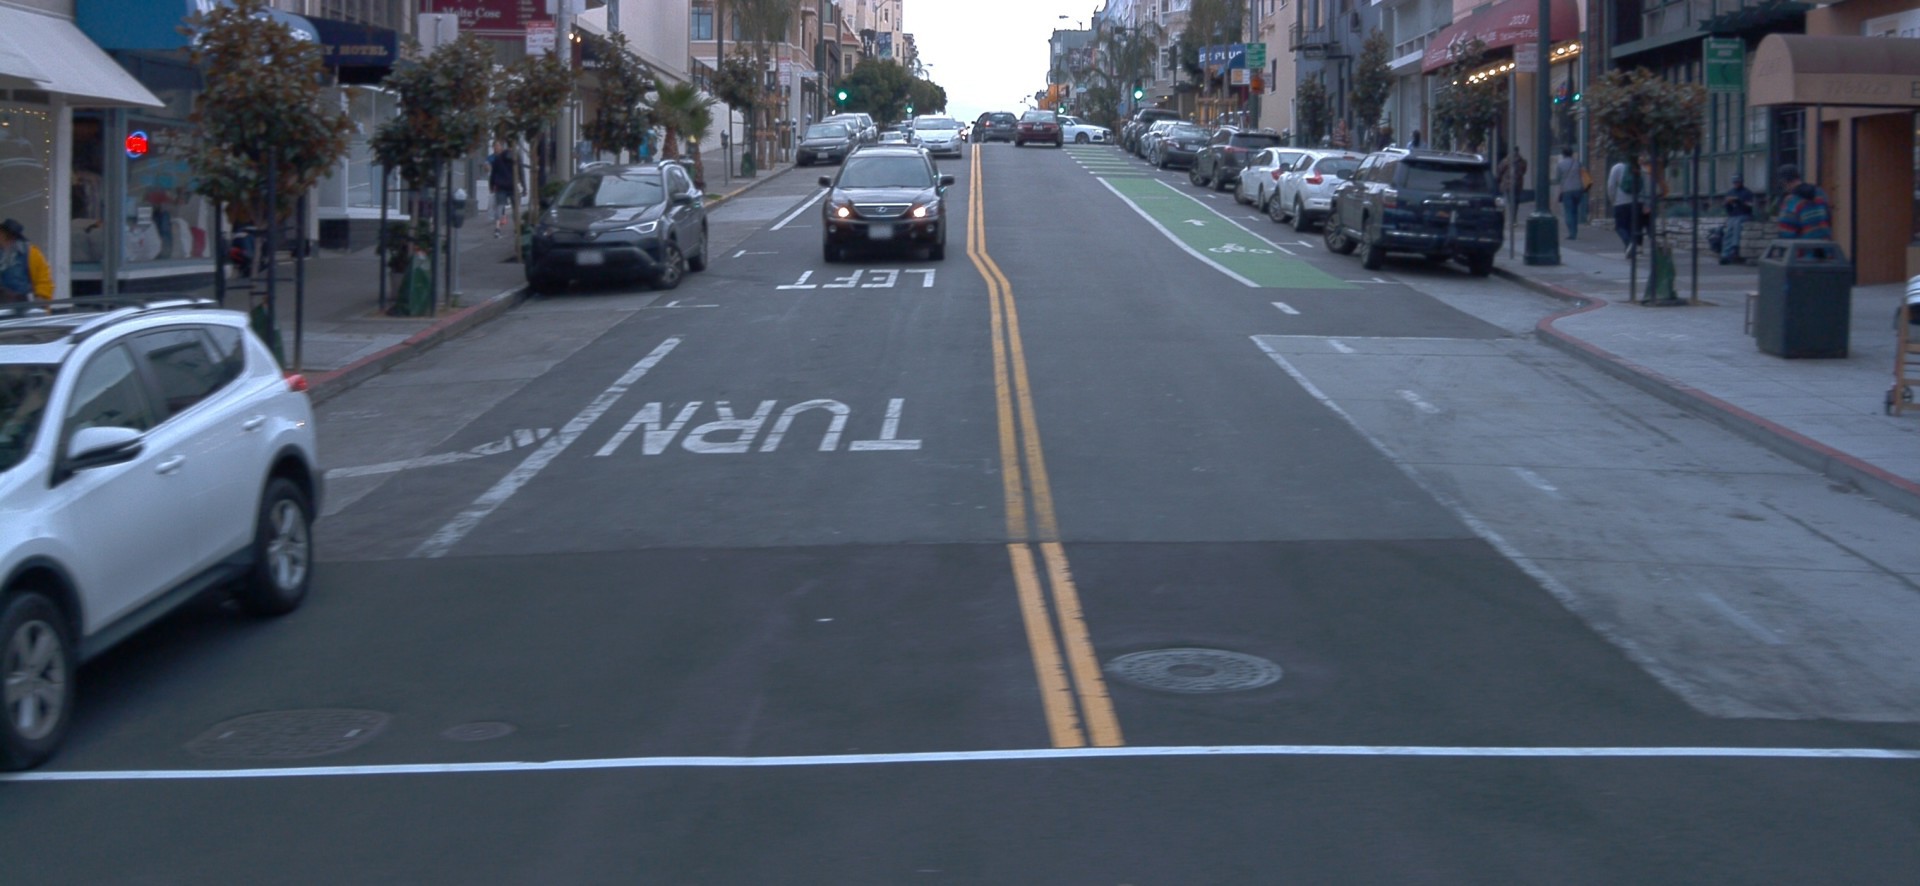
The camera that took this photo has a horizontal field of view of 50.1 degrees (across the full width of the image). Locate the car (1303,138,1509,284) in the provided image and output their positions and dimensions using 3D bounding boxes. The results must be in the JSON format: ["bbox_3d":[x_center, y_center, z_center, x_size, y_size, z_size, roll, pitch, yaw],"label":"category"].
[{"bbox_3d":[6.719,-3.531,31.497,2.179,2.052,4.942,0,5,1],"label":"car"}]

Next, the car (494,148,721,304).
[{"bbox_3d":[-4.797,-3.027,28.657,2.153,1.992,4.461,0,5,3],"label":"car"}]

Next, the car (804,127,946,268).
[{"bbox_3d":[-1.261,-3.810,32.177,1.988,2.042,4.460,0,5,1],"label":"car"}]
